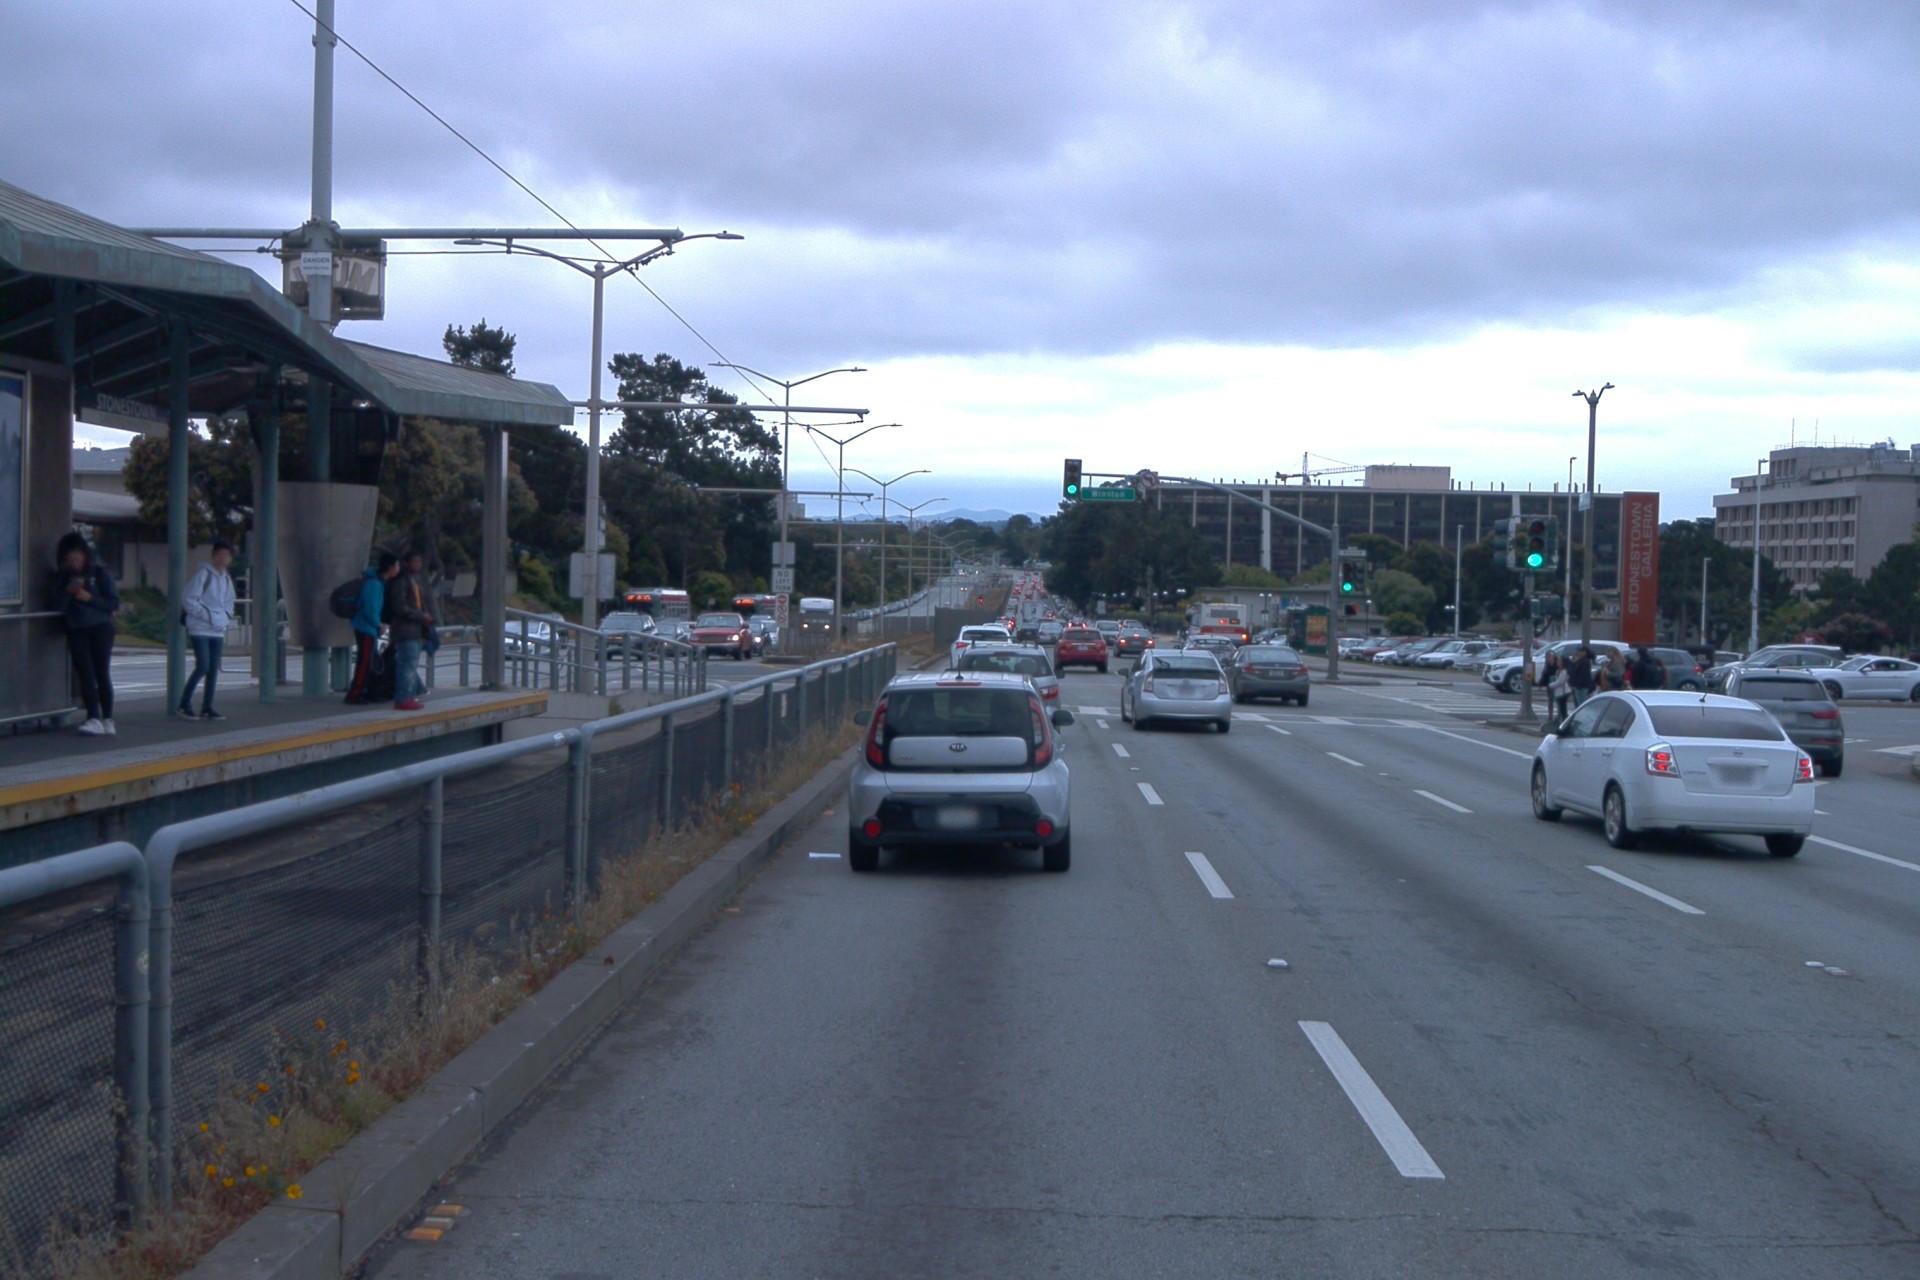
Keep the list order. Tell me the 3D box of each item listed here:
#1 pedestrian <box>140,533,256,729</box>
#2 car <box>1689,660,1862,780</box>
[{"bbox_3d":[-6.734,-0.085,18.175,0.640,1.690,0.706,0,1,34],"label":"pedestrian"},{"bbox_3d":[12.634,1.182,32.089,2.089,1.630,4.303,0,1,16],"label":"car"}]
